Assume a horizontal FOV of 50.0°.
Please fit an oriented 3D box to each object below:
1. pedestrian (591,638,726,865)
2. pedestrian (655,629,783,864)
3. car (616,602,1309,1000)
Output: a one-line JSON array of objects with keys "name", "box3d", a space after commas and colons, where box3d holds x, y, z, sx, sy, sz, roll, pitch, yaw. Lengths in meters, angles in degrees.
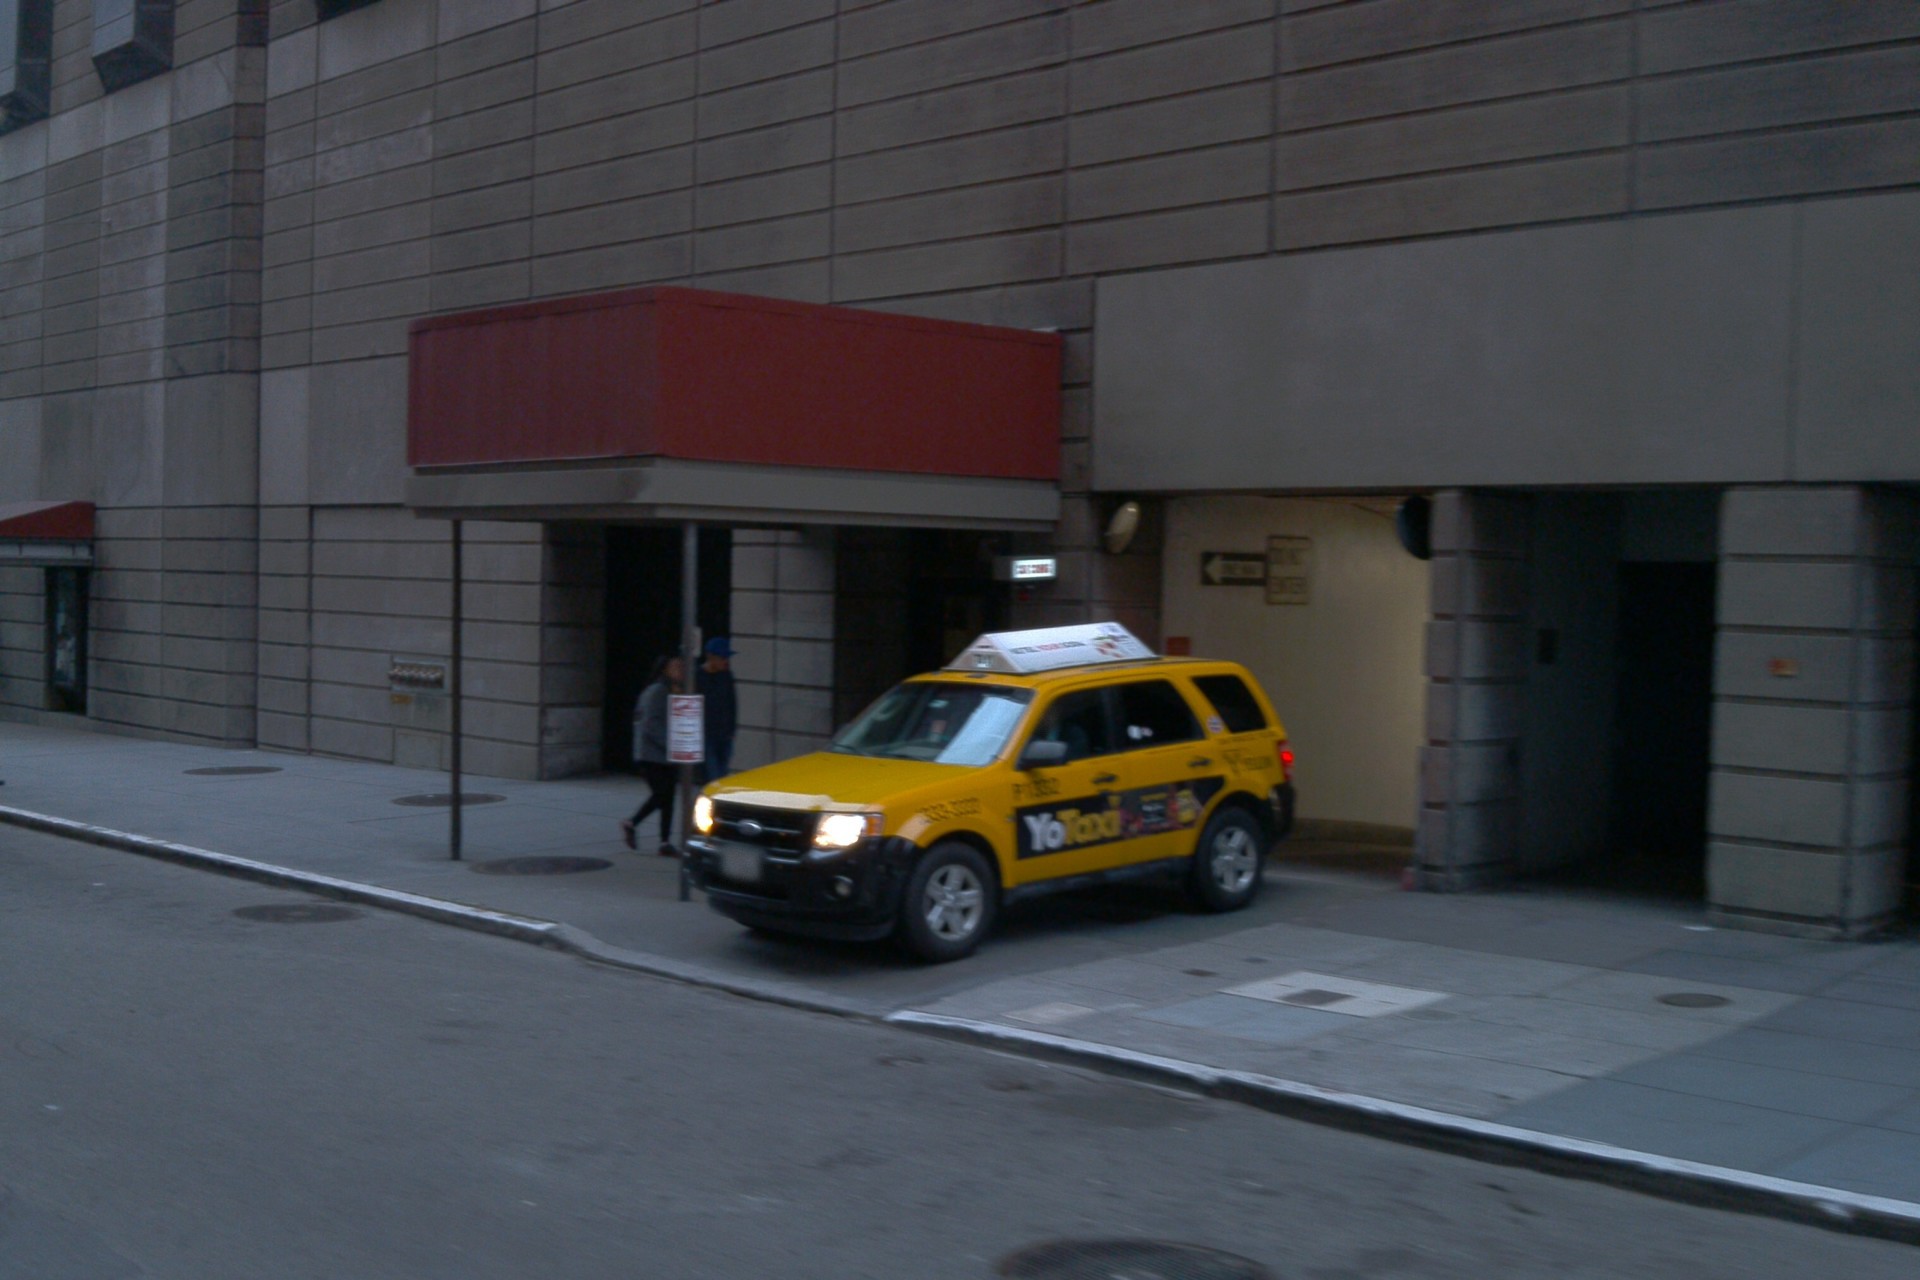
[{"name": "pedestrian", "box3d": [-2.392, 0.858, 16.328, 0.853, 1.740, 0.670, 0, 0, 42]}, {"name": "pedestrian", "box3d": [-1.948, 0.831, 16.596, 0.854, 1.840, 0.606, 0, 0, 41]}, {"name": "car", "box3d": [0.166, 0.867, 13.462, 2.085, 2.160, 4.389, 0, 0, 44]}]
